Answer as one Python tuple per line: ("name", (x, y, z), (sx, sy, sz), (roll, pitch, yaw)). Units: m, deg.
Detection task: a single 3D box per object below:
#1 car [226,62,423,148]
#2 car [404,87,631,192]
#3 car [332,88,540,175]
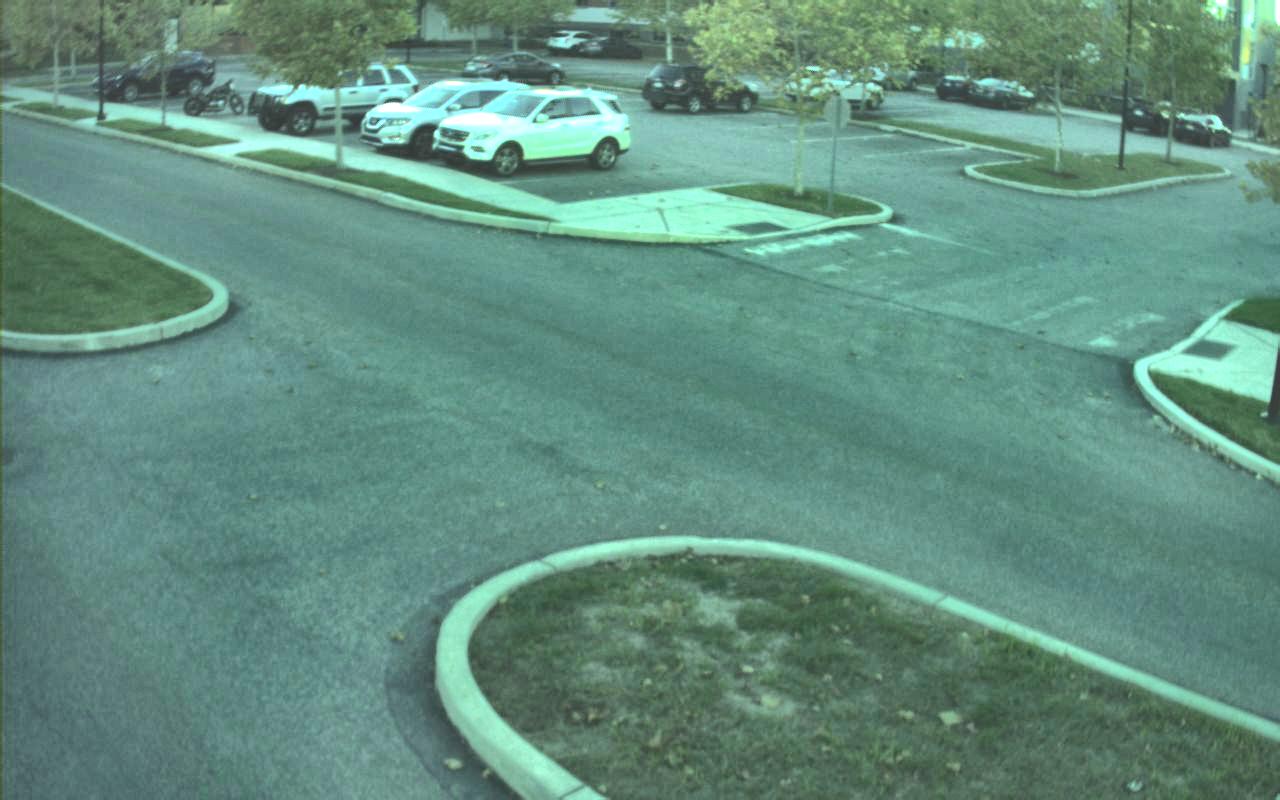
("car", (-8.357, -7.827, 31.911), (4.947, 1.843, 2.078), (-16, 21, -41))
("car", (-2.598, -5.771, 27.105), (2.053, 1.851, 4.826), (13, 21, 41))
("car", (-4.713, -6.298, 28.646), (1.974, 1.634, 4.620), (13, 21, 42))
